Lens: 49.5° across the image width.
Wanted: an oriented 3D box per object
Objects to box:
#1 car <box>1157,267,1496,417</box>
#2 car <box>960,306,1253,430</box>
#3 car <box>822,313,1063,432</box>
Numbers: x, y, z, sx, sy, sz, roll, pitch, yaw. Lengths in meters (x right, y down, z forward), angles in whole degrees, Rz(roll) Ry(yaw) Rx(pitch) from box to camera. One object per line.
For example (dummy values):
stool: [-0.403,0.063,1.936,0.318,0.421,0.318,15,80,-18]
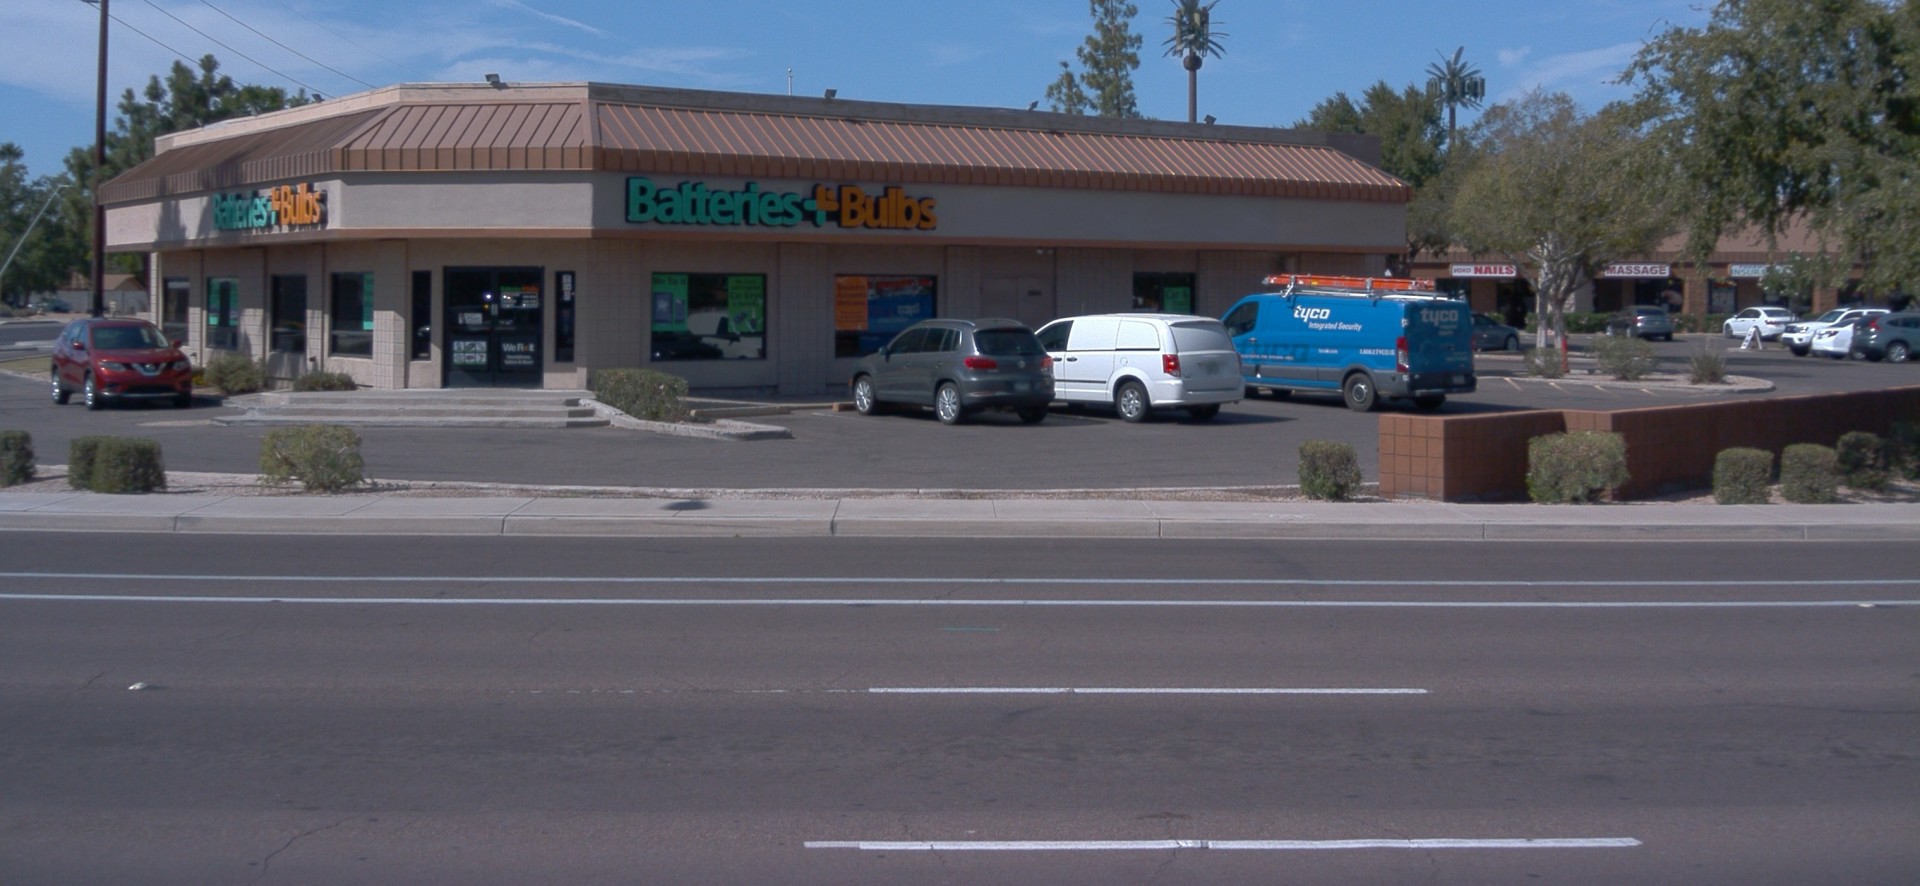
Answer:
car: [6.672,-1.991,38.704,2.658,2.494,6.060,-2,5,-36]
car: [2.415,-1.341,35.357,2.099,1.836,4.810,-3,5,-43]
car: [-0.361,-1.226,34.294,1.956,1.676,4.282,-2,5,-33]
